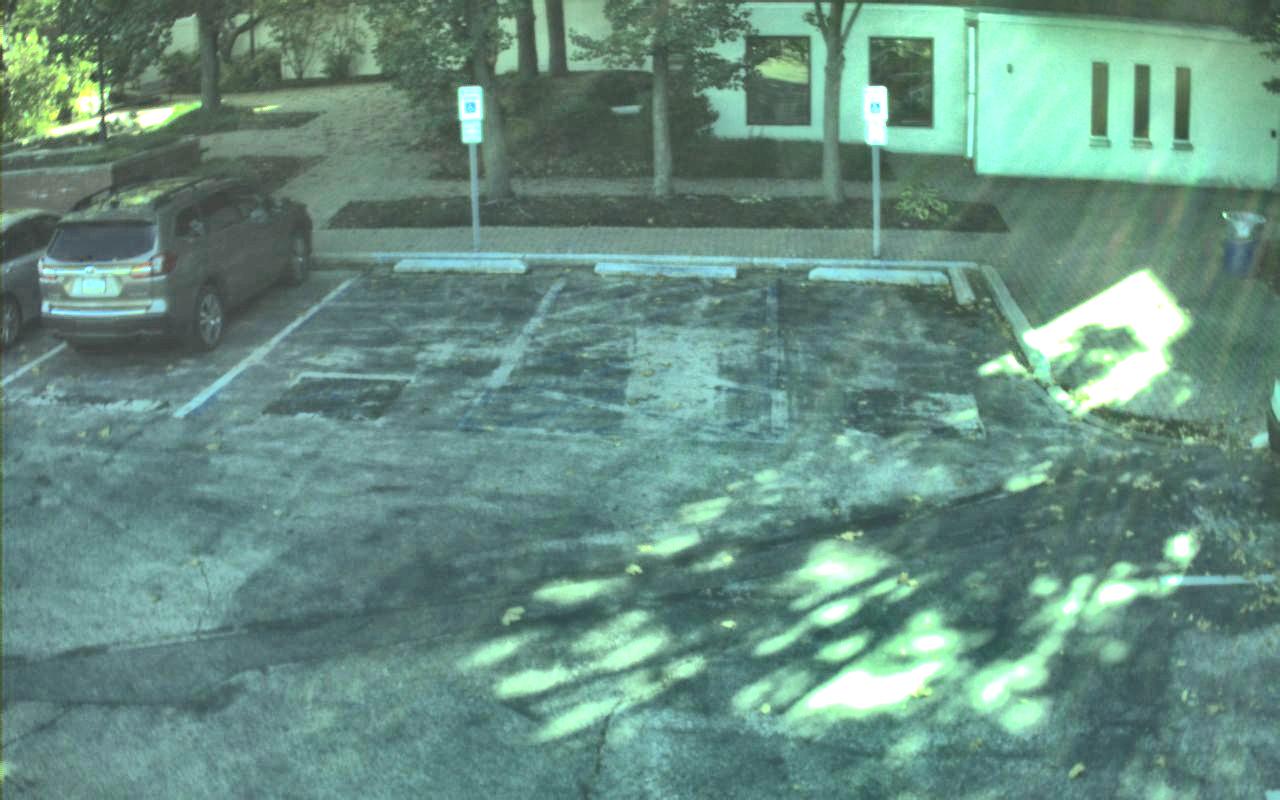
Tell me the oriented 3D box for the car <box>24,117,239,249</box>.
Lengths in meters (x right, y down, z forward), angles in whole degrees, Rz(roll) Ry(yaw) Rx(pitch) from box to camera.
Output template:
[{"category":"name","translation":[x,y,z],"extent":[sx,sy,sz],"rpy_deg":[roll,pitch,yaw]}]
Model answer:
[{"category":"car","translation":[-9.076,-3.948,20.905],"extent":[2.004,1.649,4.658],"rpy_deg":[1,17,7]}]

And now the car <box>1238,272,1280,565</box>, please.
[{"category":"car","translation":[7.124,0.097,8.266],"extent":[4.393,1.687,1.966],"rpy_deg":[0,16,4]}]

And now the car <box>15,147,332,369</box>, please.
[{"category":"car","translation":[-5.369,-1.812,14.090],"extent":[2.003,1.733,4.683],"rpy_deg":[1,17,6]}]
